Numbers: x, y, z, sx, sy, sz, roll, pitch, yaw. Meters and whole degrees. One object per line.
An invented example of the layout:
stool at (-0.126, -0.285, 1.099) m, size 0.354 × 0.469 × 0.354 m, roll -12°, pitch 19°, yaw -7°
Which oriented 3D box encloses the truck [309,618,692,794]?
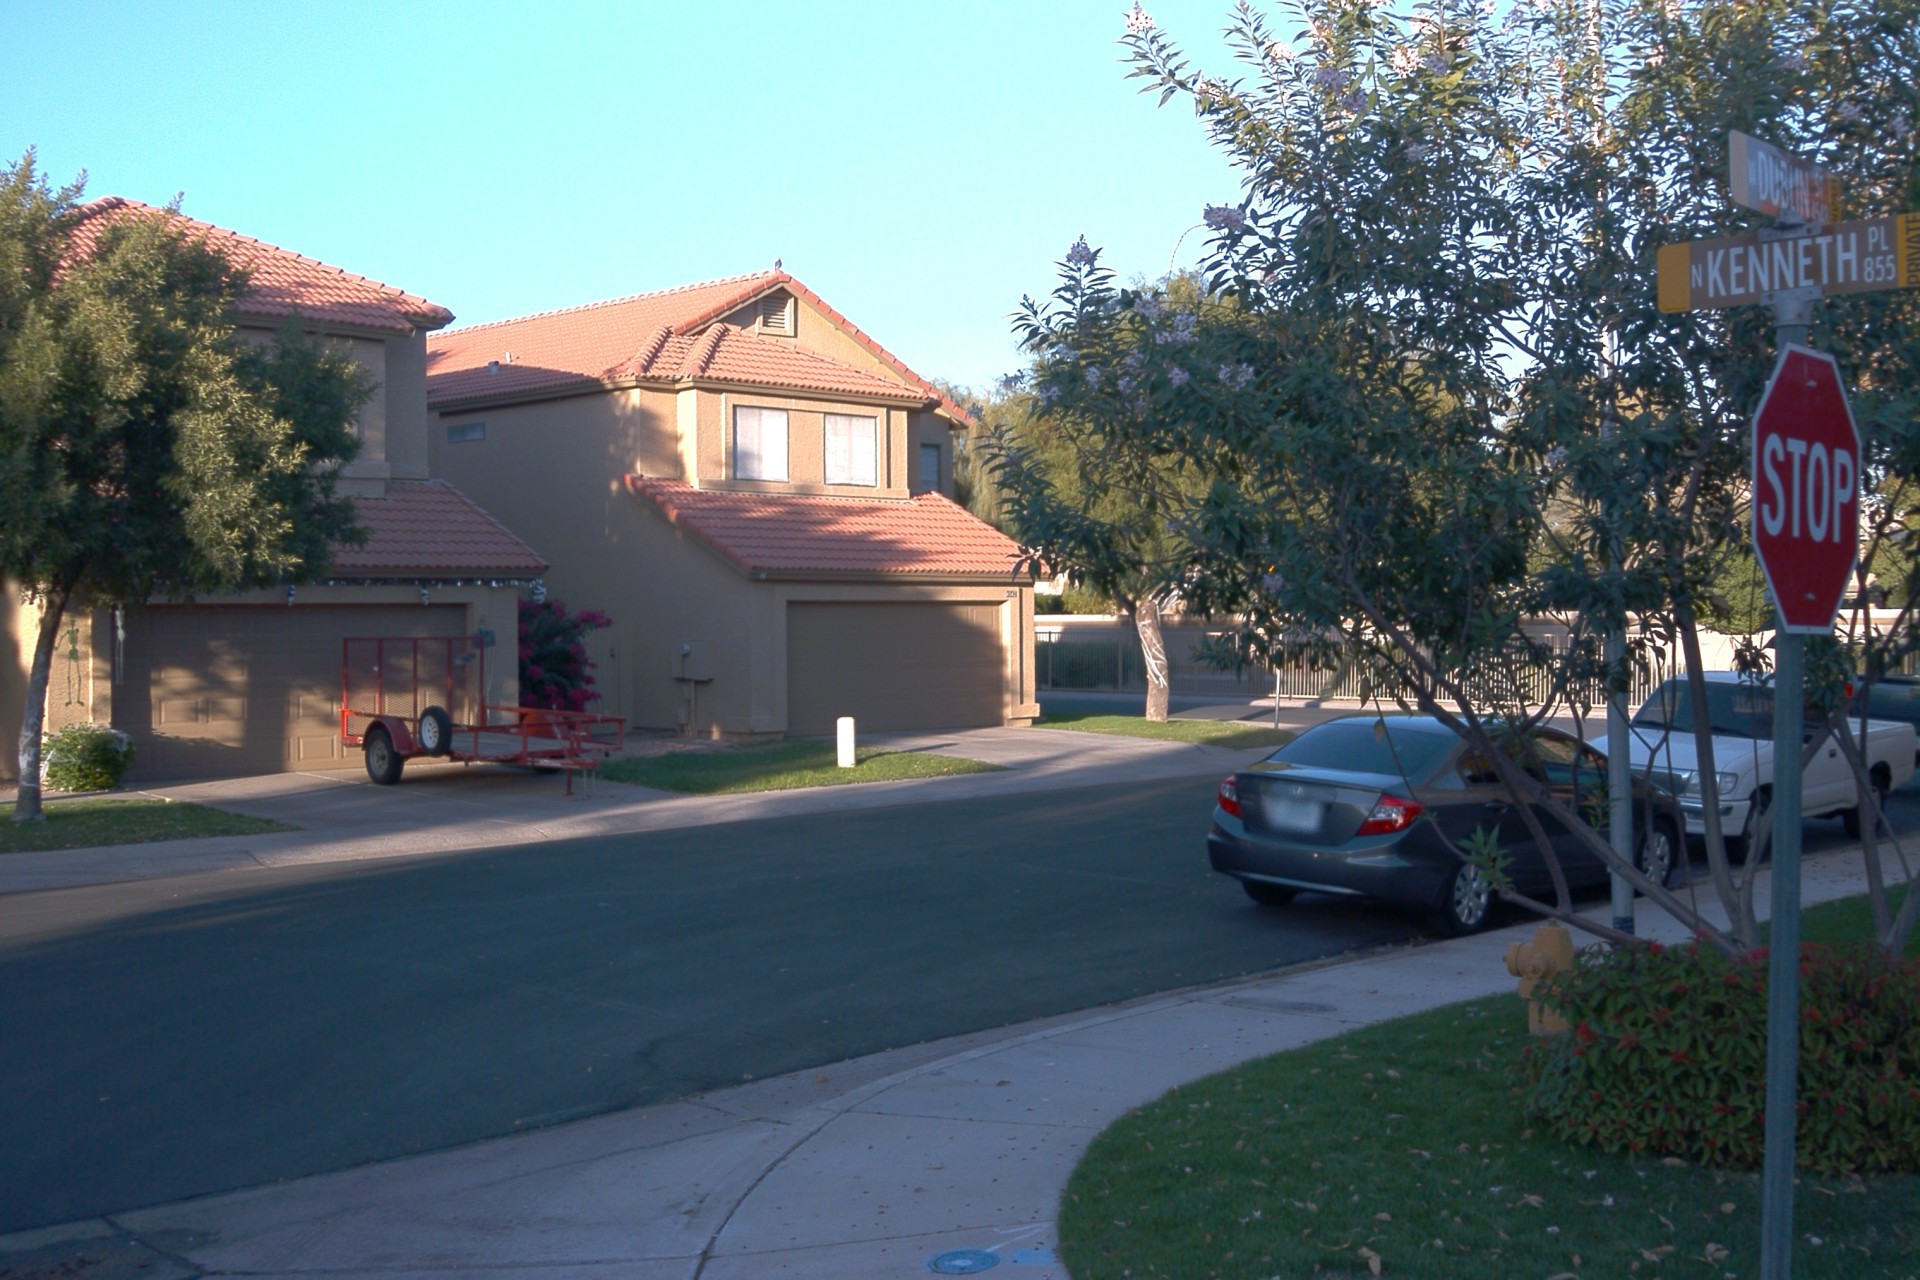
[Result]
truck at (-5.575, 0.736, 24.913) m, size 2.622 × 1.900 × 4.348 m, roll 1°, pitch -1°, yaw -43°

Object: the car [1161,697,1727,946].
car at (3.679, 1.192, 15.274) m, size 2.054 × 1.470 × 4.462 m, roll 0°, pitch -1°, yaw 44°
